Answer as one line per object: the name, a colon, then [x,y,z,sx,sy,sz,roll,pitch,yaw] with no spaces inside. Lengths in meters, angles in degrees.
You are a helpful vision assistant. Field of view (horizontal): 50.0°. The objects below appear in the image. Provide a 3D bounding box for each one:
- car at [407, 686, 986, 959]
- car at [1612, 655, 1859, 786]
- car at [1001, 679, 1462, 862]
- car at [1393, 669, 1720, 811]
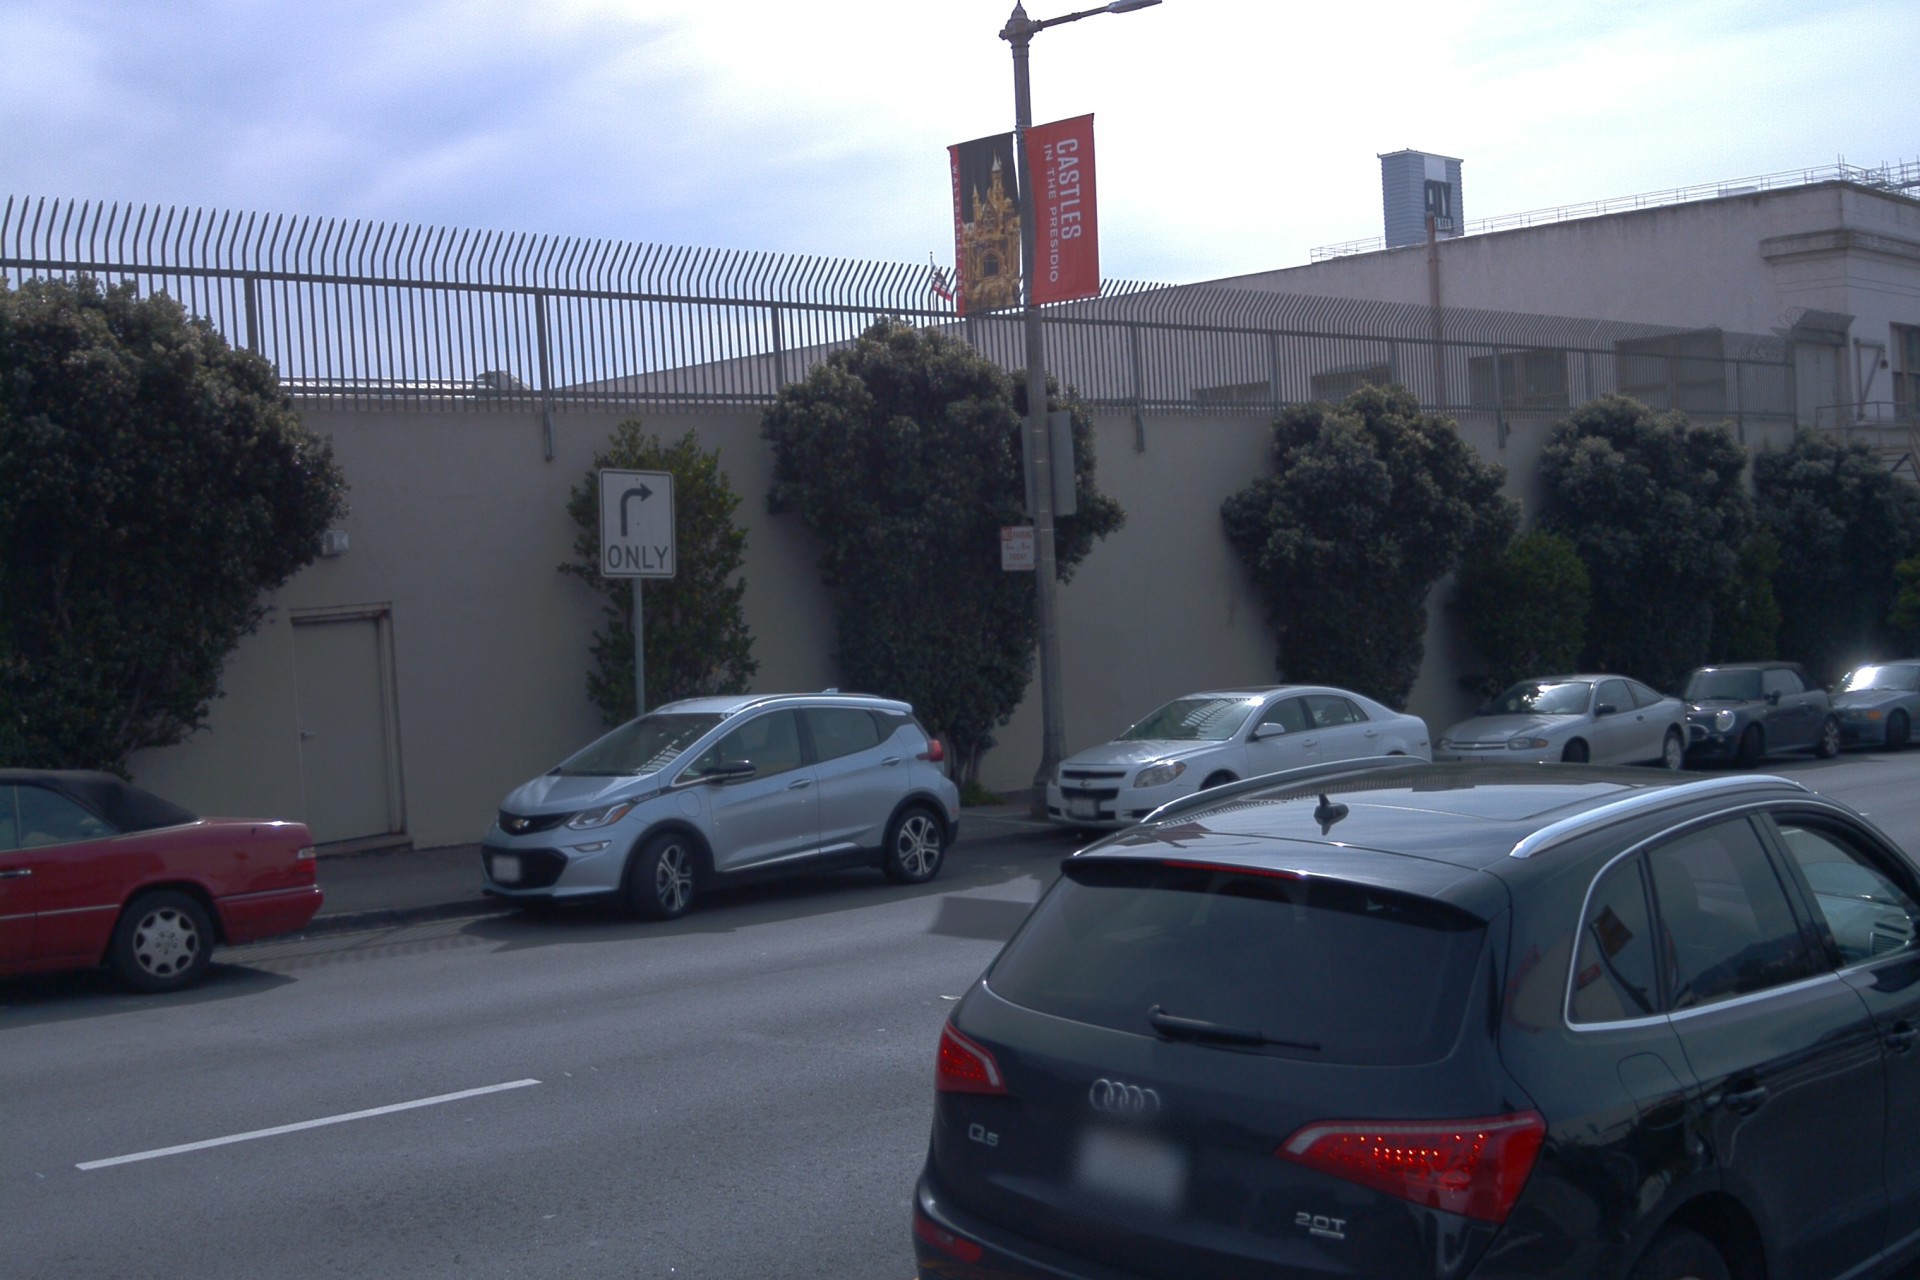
car: [-1.938,1.282,16.110,1.966,1.680,4.214,1,1,43]
car: [10.803,1.059,28.537,3.729,1.600,1.796,-1,1,-45]
car: [2.873,1.222,20.952,4.878,1.490,2.032,-1,1,-43]
car: [7.520,1.167,25.672,1.978,1.480,4.651,1,1,44]
